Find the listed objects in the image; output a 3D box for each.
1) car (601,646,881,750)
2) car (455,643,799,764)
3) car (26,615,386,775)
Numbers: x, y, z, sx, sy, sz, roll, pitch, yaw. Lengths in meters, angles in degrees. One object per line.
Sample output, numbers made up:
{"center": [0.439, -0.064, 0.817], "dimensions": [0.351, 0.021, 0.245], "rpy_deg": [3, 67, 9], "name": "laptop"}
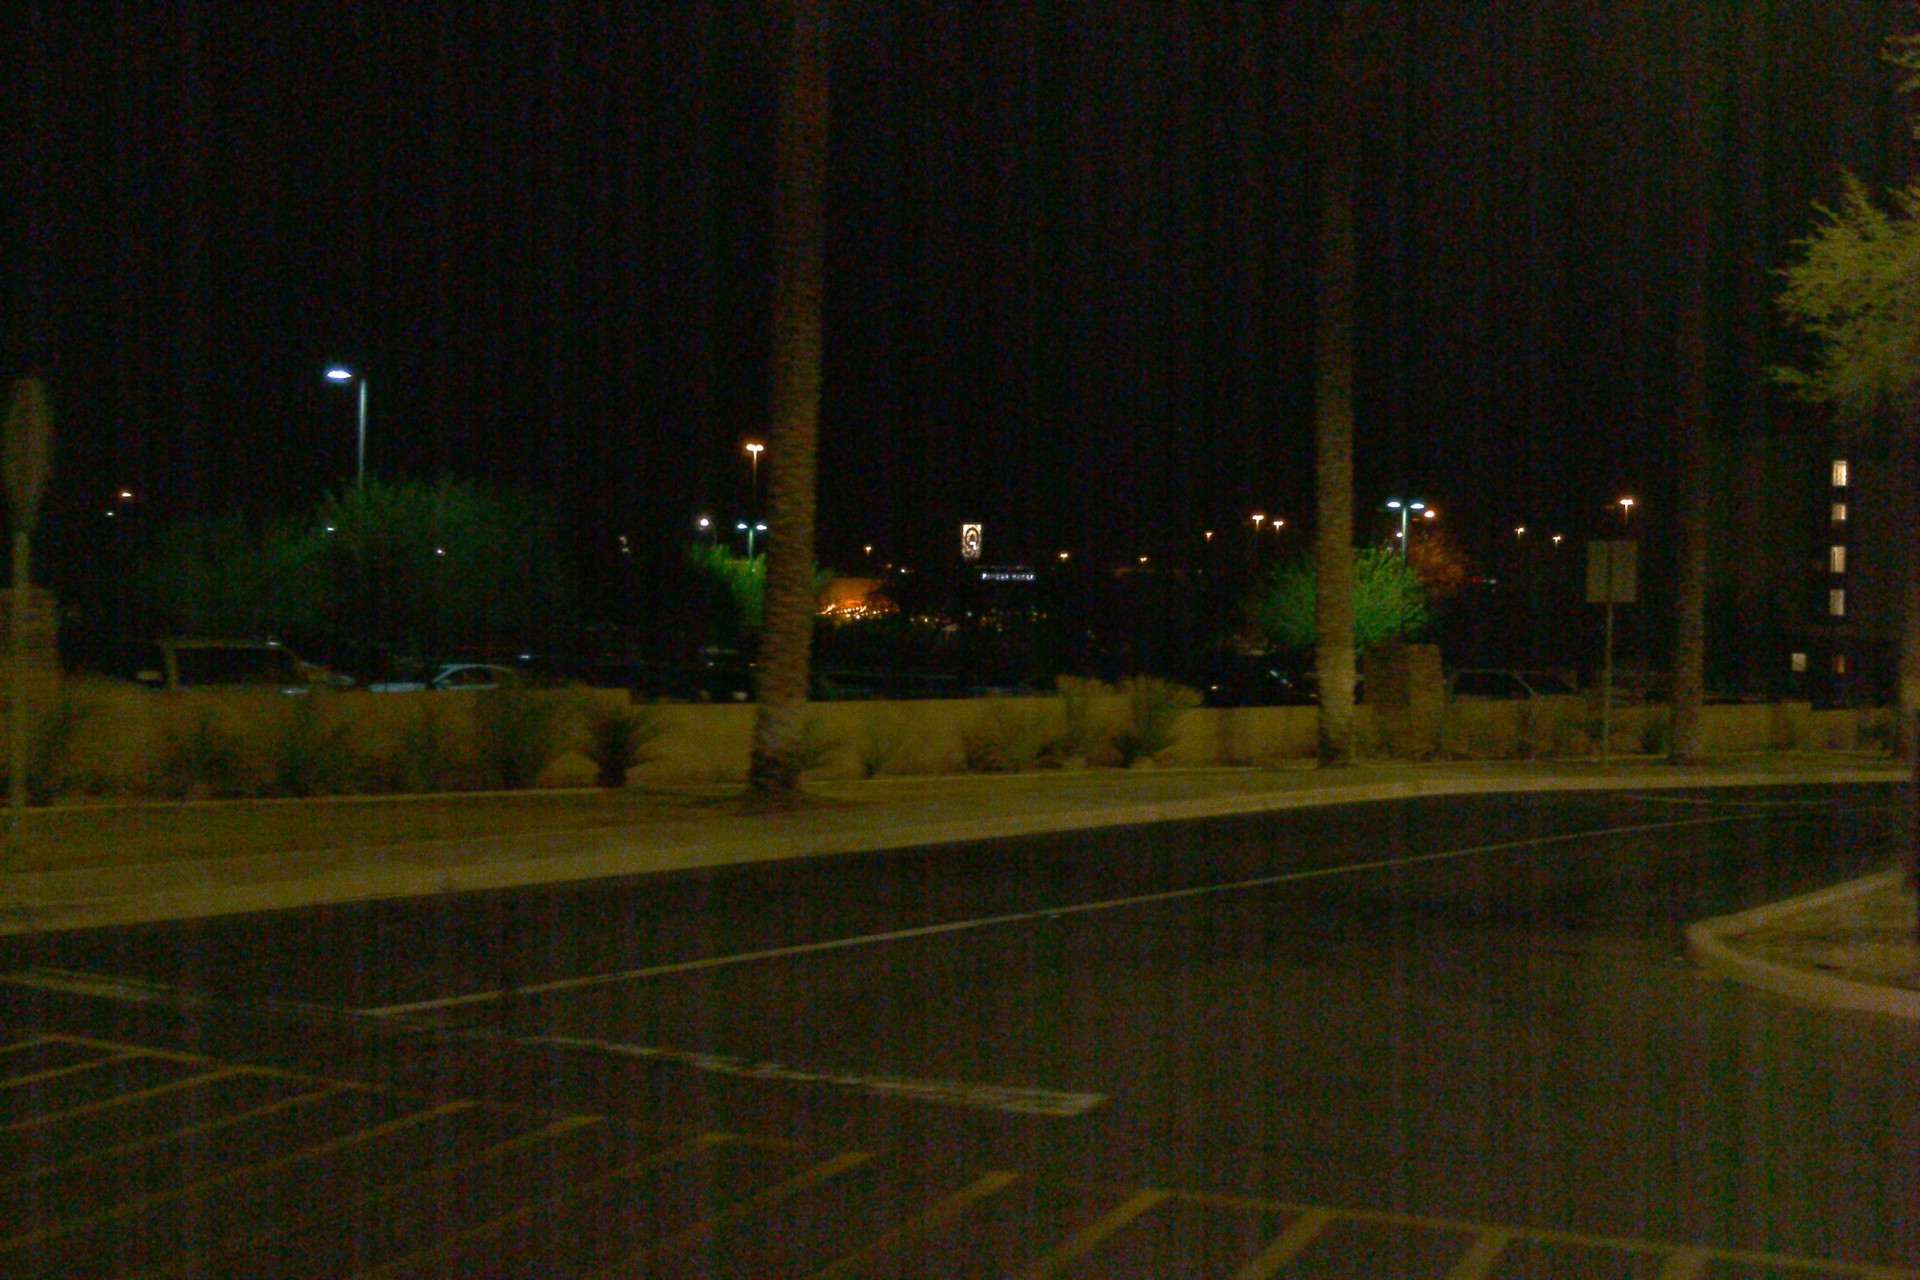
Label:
{"center": [-3.367, 0.826, 31.335], "dimensions": [2.036, 1.420, 4.270], "rpy_deg": [1, 0, -43], "name": "car"}
{"center": [-4.674, 0.812, 28.544], "dimensions": [2.229, 1.470, 5.045], "rpy_deg": [1, 0, -43], "name": "car"}
{"center": [-9.363, 0.601, 25.494], "dimensions": [2.258, 1.760, 5.289], "rpy_deg": [1, 0, -43], "name": "car"}
